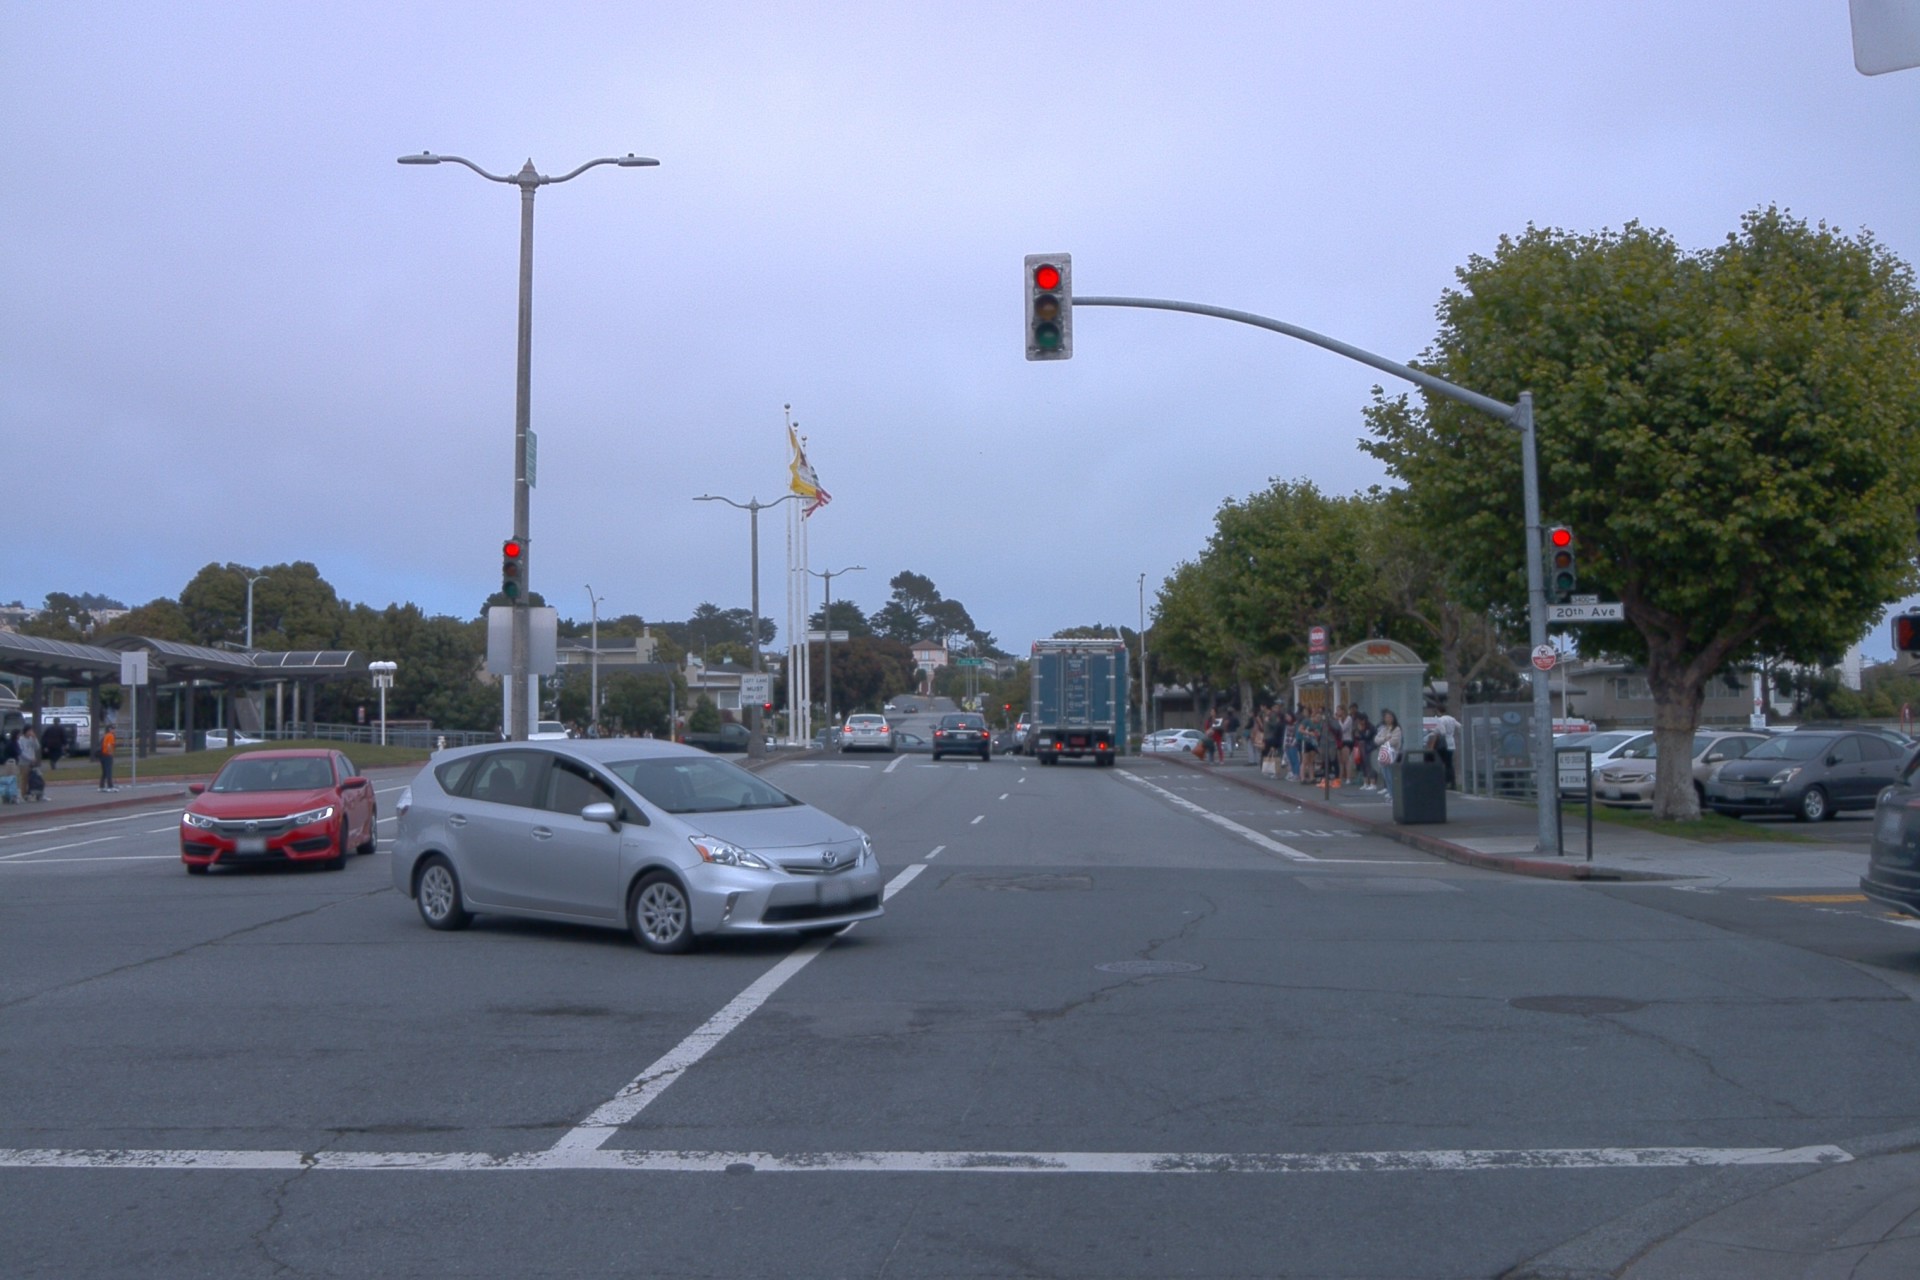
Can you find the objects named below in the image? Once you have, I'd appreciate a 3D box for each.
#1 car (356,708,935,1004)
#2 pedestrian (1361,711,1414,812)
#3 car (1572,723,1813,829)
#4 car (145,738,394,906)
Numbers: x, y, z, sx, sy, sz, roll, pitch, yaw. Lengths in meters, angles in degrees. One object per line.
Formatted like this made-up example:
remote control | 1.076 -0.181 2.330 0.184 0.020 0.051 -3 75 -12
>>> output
car | -2.636 1.564 16.479 4.705 1.825 2.099 0 1 43
pedestrian | 7.490 2.115 36.009 0.604 1.700 0.727 0 1 -21
car | 12.850 2.330 36.017 3.959 1.540 1.985 -1 1 -33
car | -8.228 2.106 24.941 2.278 1.526 4.658 0 1 -11
